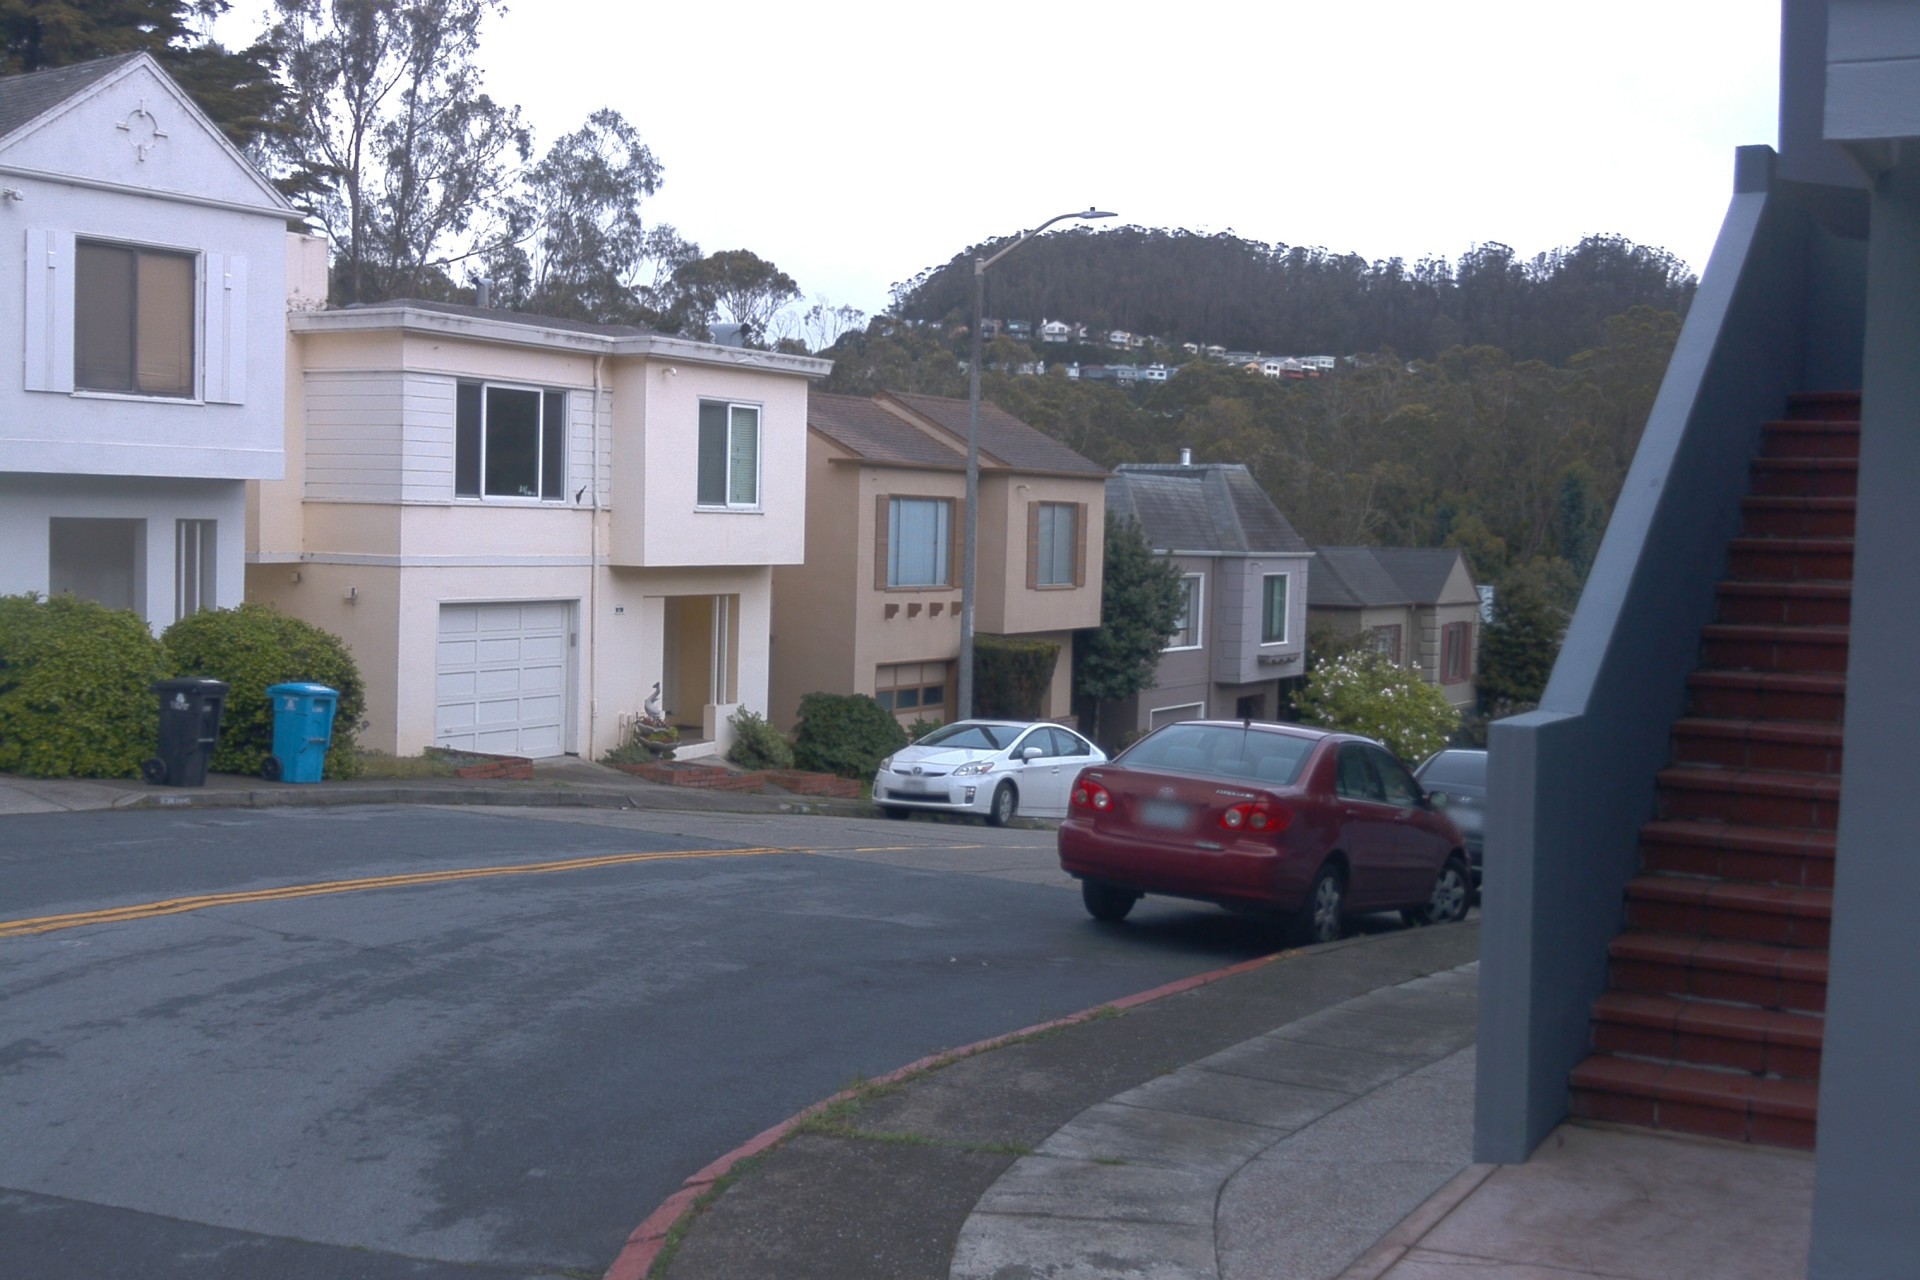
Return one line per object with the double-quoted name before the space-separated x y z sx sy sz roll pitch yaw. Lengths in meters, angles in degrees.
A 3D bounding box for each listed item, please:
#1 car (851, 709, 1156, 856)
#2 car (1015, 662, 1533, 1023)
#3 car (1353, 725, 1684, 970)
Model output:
"car" 0.697 1.857 28.636 2.156 1.700 4.585 0 0 31
"car" 2.468 1.252 15.230 2.077 2.152 4.752 1 0 31
"car" 5.604 1.897 20.613 2.140 1.950 4.374 1 0 29
